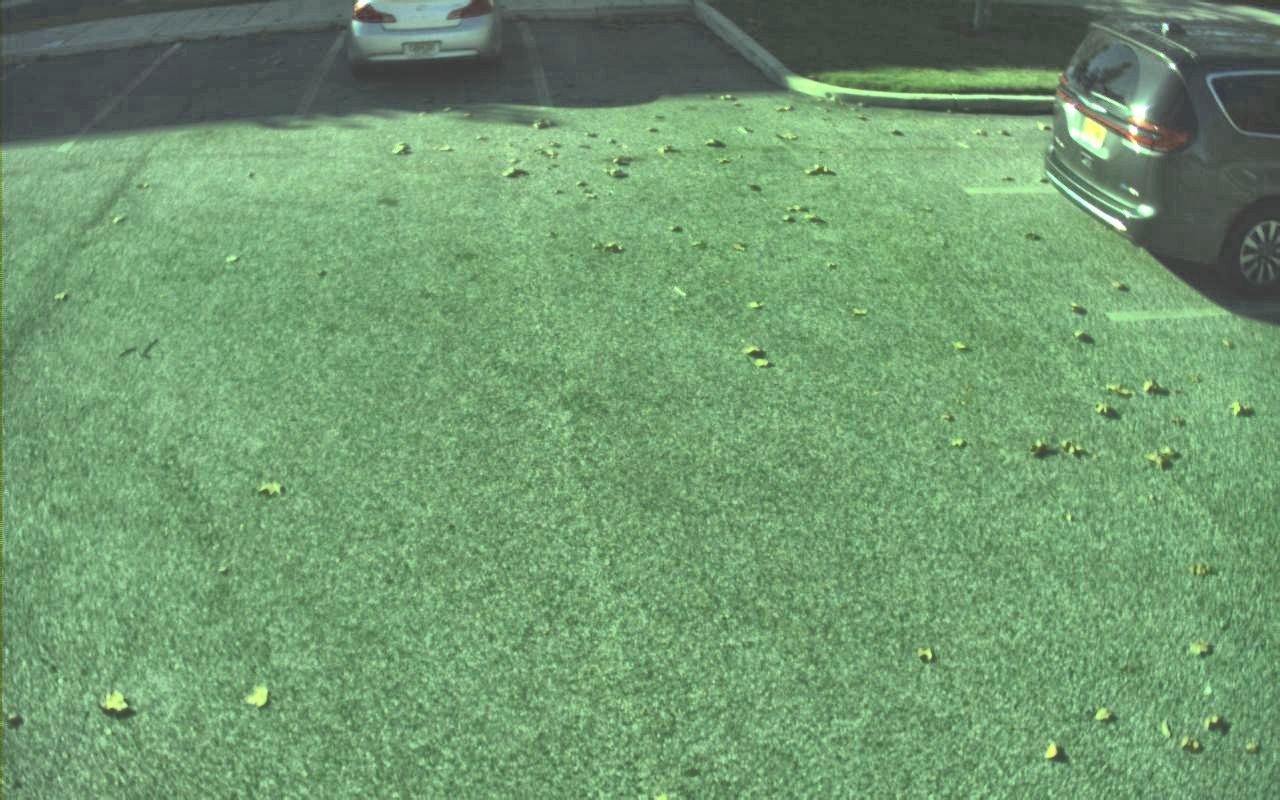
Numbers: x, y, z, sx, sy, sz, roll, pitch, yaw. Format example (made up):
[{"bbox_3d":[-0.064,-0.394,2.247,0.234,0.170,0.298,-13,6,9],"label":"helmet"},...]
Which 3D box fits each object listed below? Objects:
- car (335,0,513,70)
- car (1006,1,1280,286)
[{"bbox_3d":[-2.590,-4.959,14.910,1.909,1.553,4.439,-3,17,-6],"label":"car"},{"bbox_3d":[5.321,-2.008,8.538,4.784,1.795,2.043,-4,16,-8],"label":"car"}]
